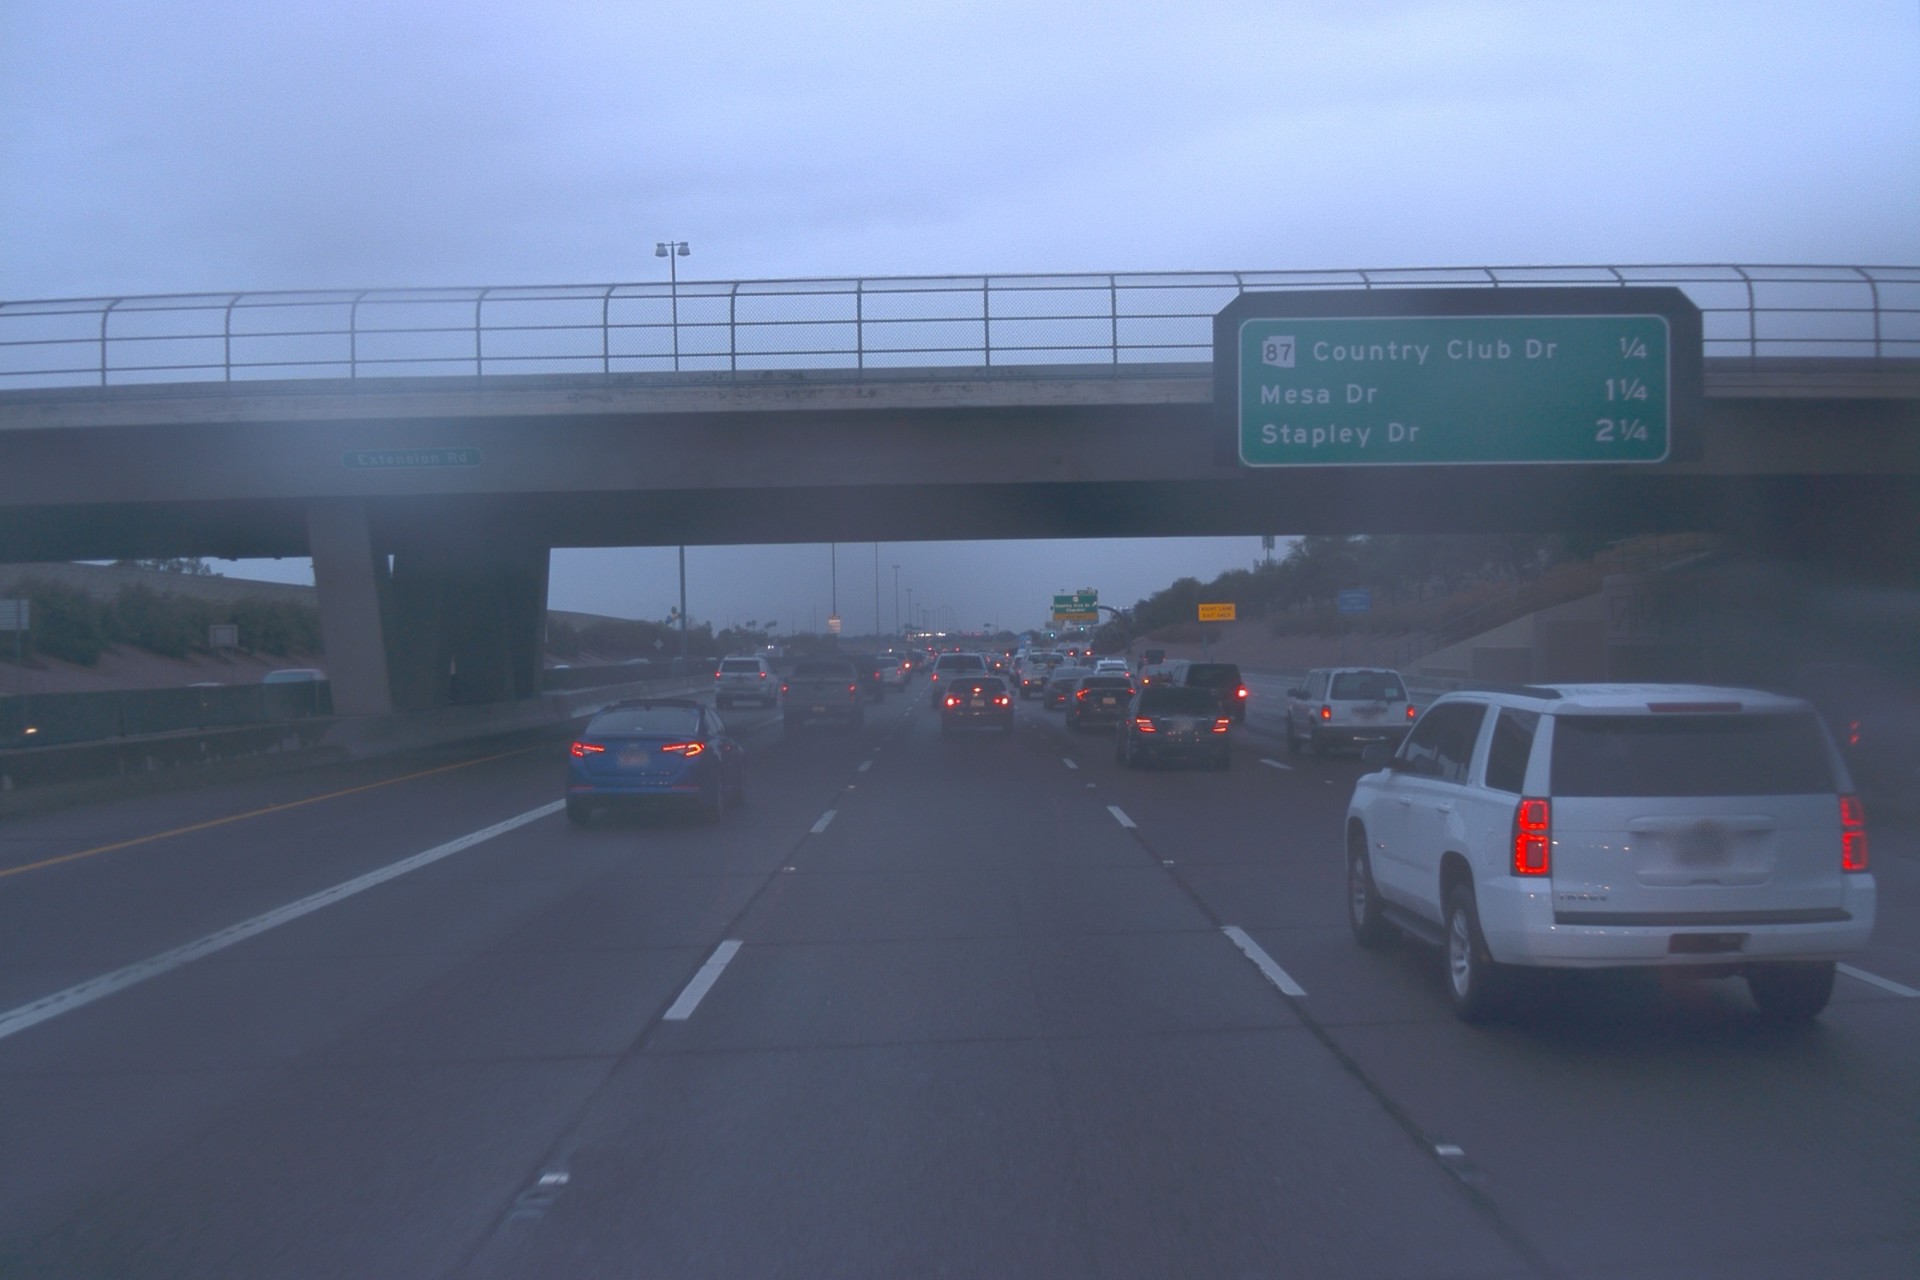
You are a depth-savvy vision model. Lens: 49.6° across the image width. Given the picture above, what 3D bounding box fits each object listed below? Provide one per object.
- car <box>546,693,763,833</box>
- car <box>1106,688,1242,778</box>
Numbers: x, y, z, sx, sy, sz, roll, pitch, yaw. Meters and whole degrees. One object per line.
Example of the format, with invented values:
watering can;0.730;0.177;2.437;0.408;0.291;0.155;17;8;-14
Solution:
car;-3.720;1.464;26.069;1.988;1.510;4.517;0;0;1
car;3.742;1.612;37.047;2.000;1.420;4.583;0;0;1
